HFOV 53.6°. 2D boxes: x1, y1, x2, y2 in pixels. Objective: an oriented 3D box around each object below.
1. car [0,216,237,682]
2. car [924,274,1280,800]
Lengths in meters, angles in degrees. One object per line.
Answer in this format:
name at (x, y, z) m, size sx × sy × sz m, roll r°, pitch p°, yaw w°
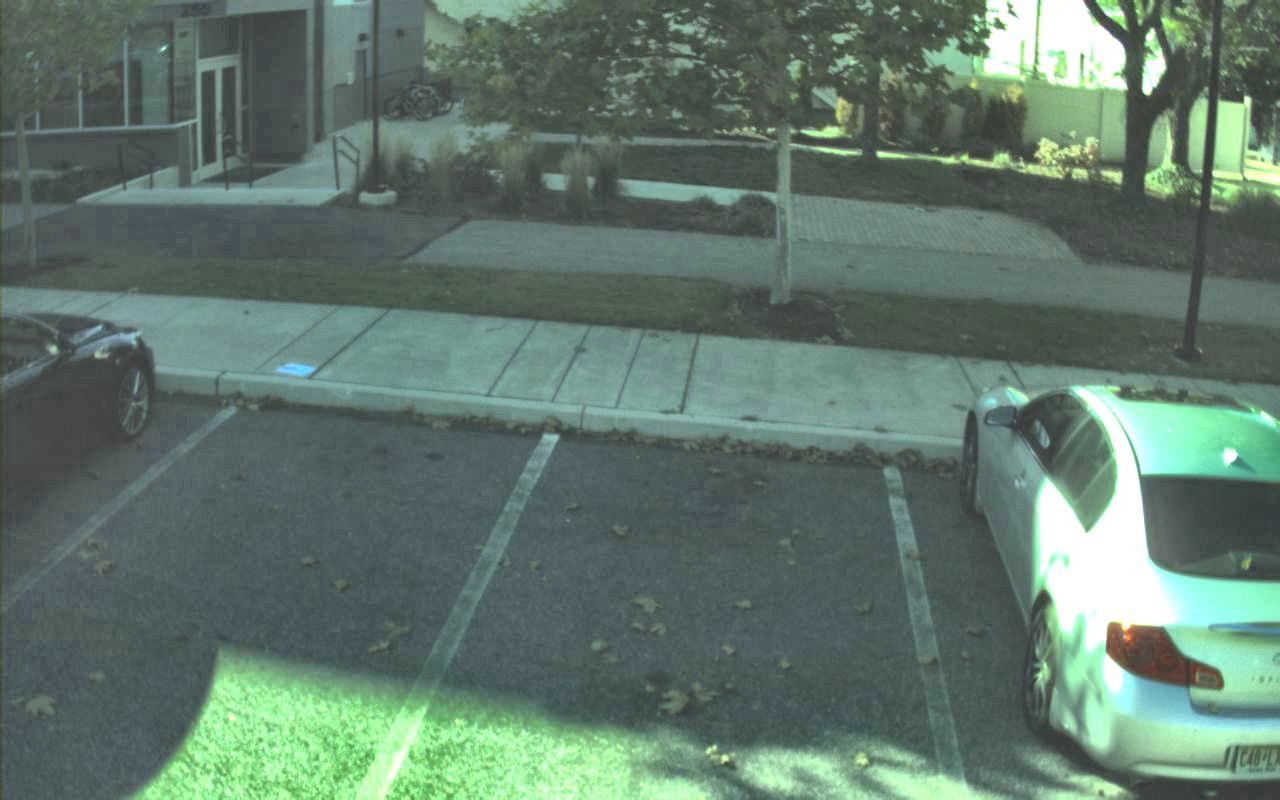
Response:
car at (-4.452, 0.023, 7.373) m, size 1.967 × 1.618 × 4.571 m, roll 1°, pitch 17°, yaw 6°
car at (2.908, 0.600, 6.599) m, size 2.001 × 1.676 × 4.573 m, roll 0°, pitch 17°, yaw 4°
